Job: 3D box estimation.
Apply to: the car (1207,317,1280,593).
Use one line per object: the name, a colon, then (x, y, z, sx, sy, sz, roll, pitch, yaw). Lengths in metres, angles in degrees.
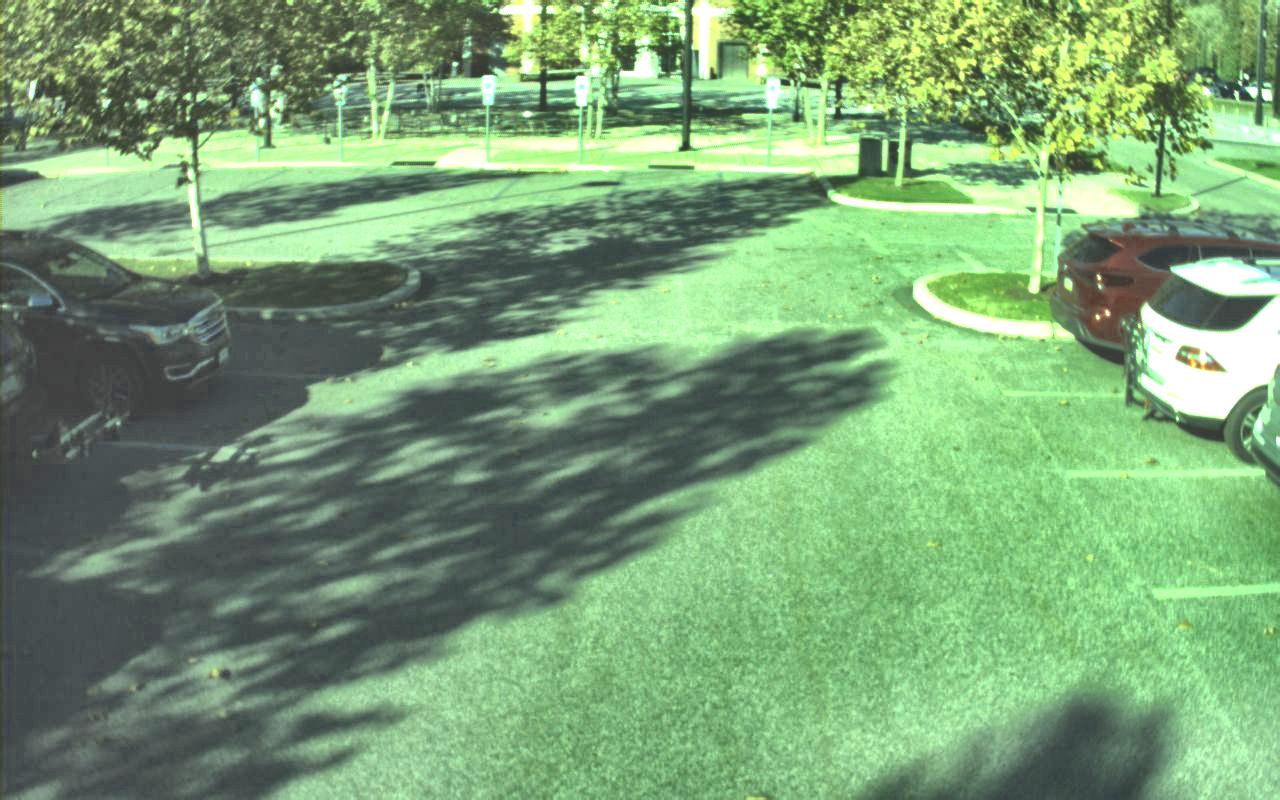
car: (7.107, 0.417, 8.759, 4.464, 1.622, 2.009, 0, 16, 5)

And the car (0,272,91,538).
car: (-7.363, -0.060, 9.580, 4.503, 1.688, 2.007, 2, 16, 10)

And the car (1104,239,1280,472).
car: (7.104, -0.497, 11.380, 4.489, 1.801, 1.995, -1, 16, 1)

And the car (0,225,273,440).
car: (-6.516, -0.807, 12.486, 4.692, 1.707, 2.056, 2, 17, 11)

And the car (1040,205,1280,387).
car: (7.190, -1.270, 14.019, 4.419, 1.741, 1.975, -1, 16, 1)
